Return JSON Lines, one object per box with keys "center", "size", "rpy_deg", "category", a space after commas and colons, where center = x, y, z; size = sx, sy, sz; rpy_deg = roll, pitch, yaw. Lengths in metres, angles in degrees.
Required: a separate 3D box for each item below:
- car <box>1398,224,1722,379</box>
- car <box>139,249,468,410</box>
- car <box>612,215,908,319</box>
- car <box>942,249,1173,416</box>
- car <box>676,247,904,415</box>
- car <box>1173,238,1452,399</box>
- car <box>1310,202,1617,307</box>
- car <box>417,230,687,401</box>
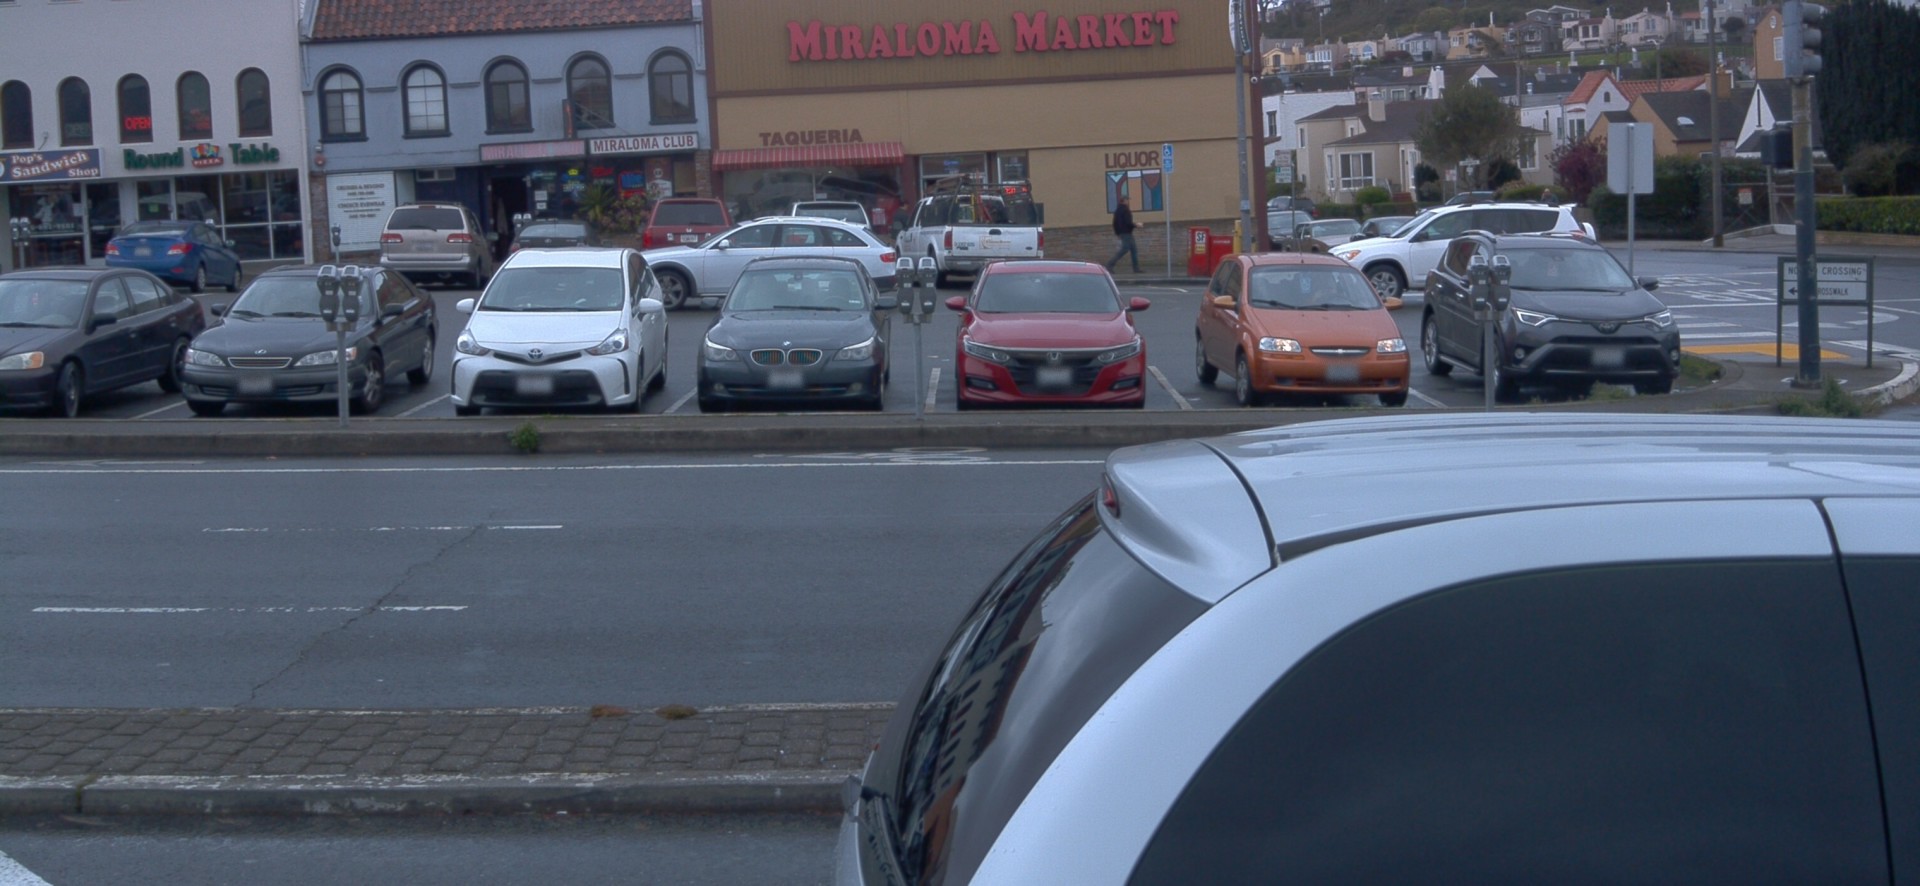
{"center": [6.389, -1.638, 22.575], "size": [2.205, 1.461, 4.580], "rpy_deg": [0, 6, 0], "category": "car"}
{"center": [-6.719, -1.287, 21.703], "size": [2.023, 1.392, 4.712], "rpy_deg": [0, 6, -1], "category": "car"}
{"center": [-3.301, -2.903, 33.640], "size": [4.664, 1.604, 2.075], "rpy_deg": [-1, 5, -11], "category": "car"}
{"center": [0.906, -1.267, 21.830], "size": [2.185, 1.461, 4.636], "rpy_deg": [0, 6, -1], "category": "car"}
{"center": [-1.658, -1.270, 21.658], "size": [2.112, 1.461, 4.574], "rpy_deg": [0, 6, -1], "category": "car"}
{"center": [3.599, -1.396, 21.820], "size": [2.049, 1.462, 4.037], "rpy_deg": [0, 6, -4], "category": "car"}
{"center": [8.525, -3.245, 35.259], "size": [4.741, 1.734, 2.064], "rpy_deg": [0, 4, -1], "category": "car"}
{"center": [-4.055, -1.416, 21.294], "size": [2.132, 1.491, 4.678], "rpy_deg": [0, 6, -4], "category": "car"}
